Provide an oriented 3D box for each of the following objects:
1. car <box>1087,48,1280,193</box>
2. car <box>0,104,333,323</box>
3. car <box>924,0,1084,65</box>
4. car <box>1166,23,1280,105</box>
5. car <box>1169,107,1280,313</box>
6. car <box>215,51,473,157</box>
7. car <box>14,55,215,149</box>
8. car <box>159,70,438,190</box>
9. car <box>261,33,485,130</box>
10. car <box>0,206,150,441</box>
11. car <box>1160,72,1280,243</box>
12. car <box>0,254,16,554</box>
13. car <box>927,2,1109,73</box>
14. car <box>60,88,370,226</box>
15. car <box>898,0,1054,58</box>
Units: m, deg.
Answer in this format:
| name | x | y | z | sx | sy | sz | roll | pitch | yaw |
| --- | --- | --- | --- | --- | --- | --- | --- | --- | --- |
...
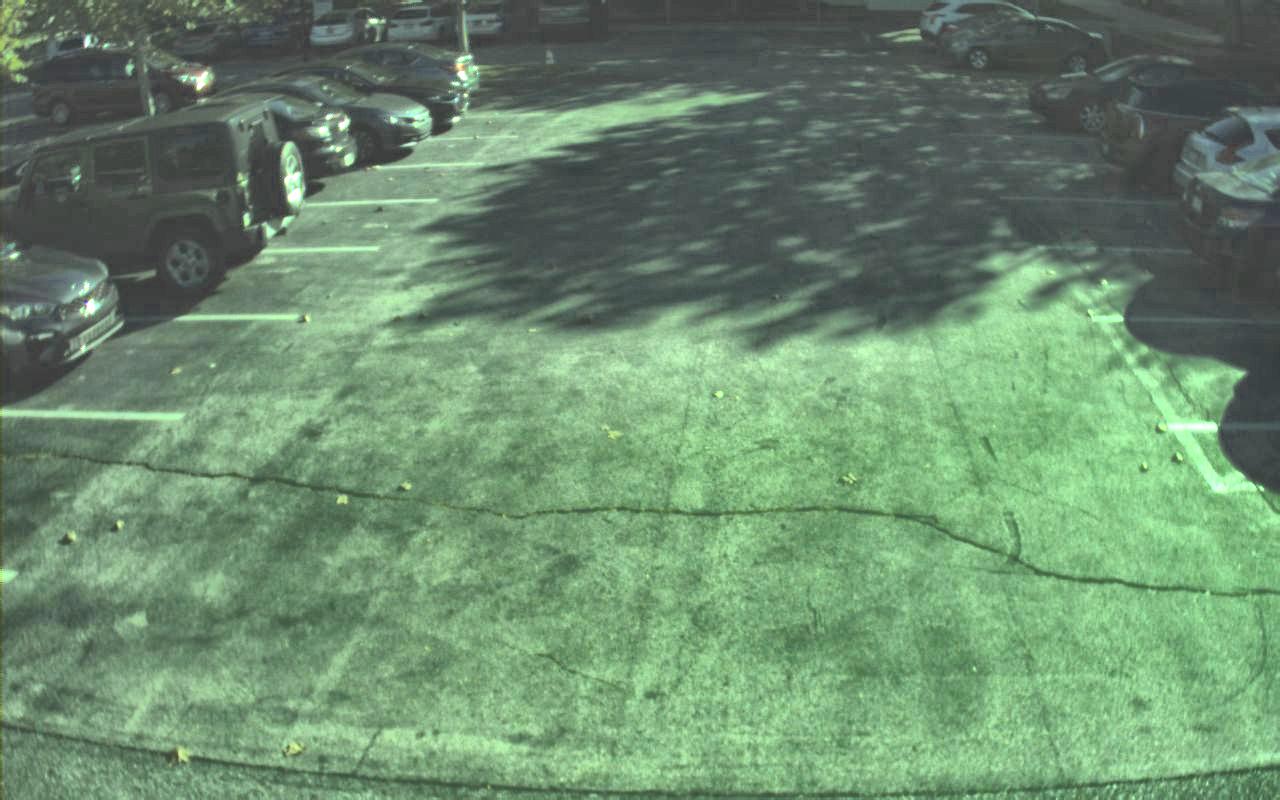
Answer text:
| name | x | y | z | sx | sy | sz | roll | pitch | yaw |
| --- | --- | --- | --- | --- | --- | --- | --- | --- | --- |
| car | 8.651 | -3.999 | 16.038 | 4.473 | 1.635 | 1.968 | 1 | 16 | 8 |
| car | -5.901 | -2.032 | 12.727 | 4.708 | 1.924 | 2.064 | 0 | 16 | 5 |
| car | 10.154 | -10.244 | 33.086 | 4.368 | 1.595 | 1.944 | 1 | 16 | 7 |
| car | 15.796 | -8.572 | 28.319 | 4.562 | 1.685 | 2.022 | 1 | 16 | 8 |
| car | 7.643 | -1.951 | 11.059 | 4.391 | 1.590 | 1.960 | 3 | 17 | 12 |
| car | -5.433 | -5.430 | 22.156 | 4.395 | 1.604 | 1.955 | 1 | 16 | 6 |
| car | -13.054 | -7.289 | 28.090 | 4.893 | 1.753 | 2.073 | 1 | 16 | 5 |
| car | -5.648 | -4.483 | 19.926 | 4.365 | 1.580 | 1.941 | -1 | 16 | 0 |
| car | -5.439 | -6.563 | 24.882 | 4.450 | 1.652 | 1.981 | -3 | 16 | -5 |
| car | -6.937 | -0.760 | 10.202 | 4.428 | 1.587 | 1.973 | 2 | 17 | 10 |
| car | 8.617 | -2.983 | 13.419 | 4.347 | 1.626 | 1.948 | 2 | 16 | 10 |
| car | -7.300 | -0.048 | 7.930 | 4.500 | 1.637 | 1.978 | 1 | 16 | 7 |
| car | 9.830 | -9.420 | 30.779 | 4.598 | 1.614 | 1.980 | 1 | 16 | 6 |
| car | -6.371 | -3.591 | 17.564 | 4.375 | 1.628 | 1.975 | 1 | 16 | 8 |
| car | 10.024 | -11.119 | 35.574 | 4.468 | 1.660 | 1.974 | 0 | 16 | 2 |
